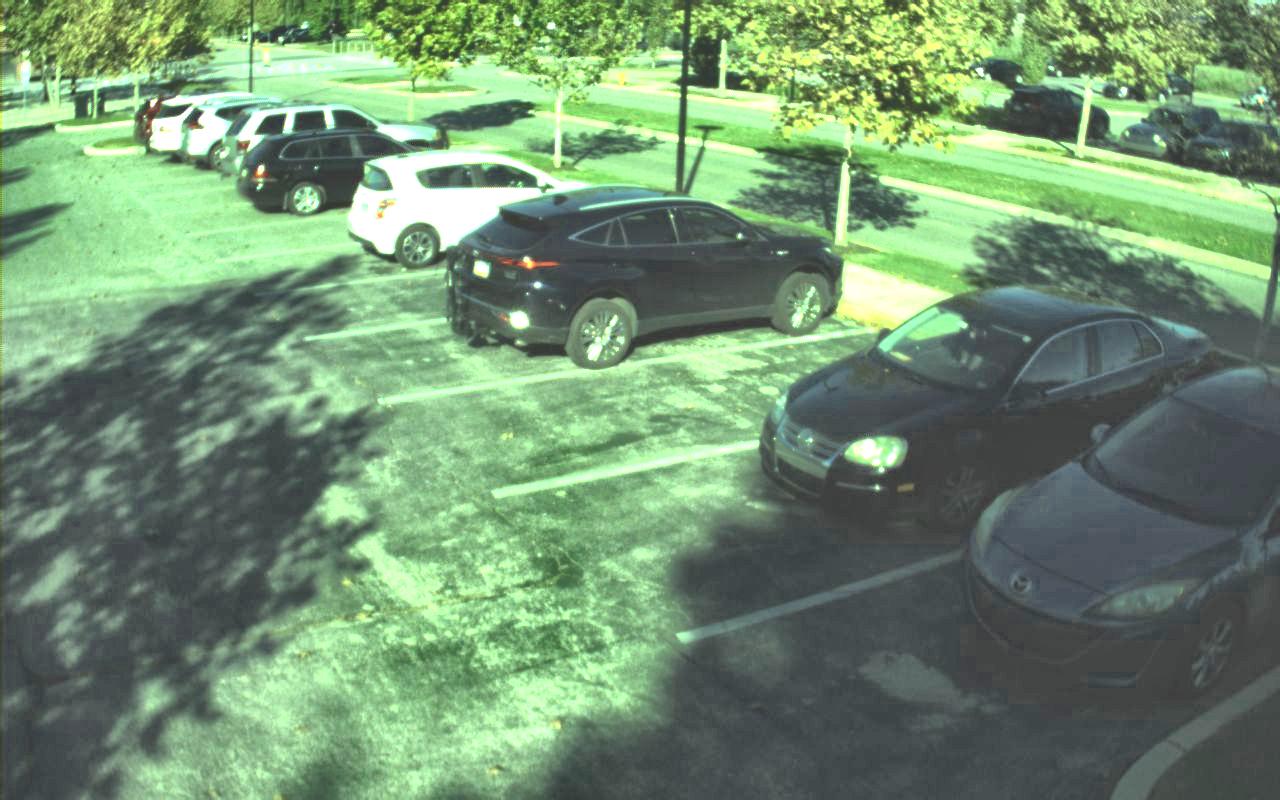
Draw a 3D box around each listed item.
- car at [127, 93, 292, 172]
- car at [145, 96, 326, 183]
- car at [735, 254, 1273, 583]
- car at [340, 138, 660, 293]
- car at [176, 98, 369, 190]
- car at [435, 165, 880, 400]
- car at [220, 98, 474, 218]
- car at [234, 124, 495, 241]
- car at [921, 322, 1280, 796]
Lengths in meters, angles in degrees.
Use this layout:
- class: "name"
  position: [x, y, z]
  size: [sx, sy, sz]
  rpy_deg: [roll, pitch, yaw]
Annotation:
- class: "car"
  position: [-12.270, -7.568, 33.354]
  size: [4.511, 1.714, 1.989]
  rpy_deg: [-12, 19, -32]
- class: "car"
  position: [-10.629, -6.801, 30.978]
  size: [4.563, 1.707, 1.992]
  rpy_deg: [-11, 19, -30]
- class: "car"
  position: [3.153, -0.078, 9.920]
  size: [4.450, 1.541, 1.948]
  rpy_deg: [-10, 18, -26]
- class: "car"
  position: [-2.079, -2.842, 18.575]
  size: [4.377, 1.669, 1.932]
  rpy_deg: [-10, 19, -28]
- class: "car"
  position: [-8.968, -6.216, 29.036]
  size: [4.475, 1.689, 1.961]
  rpy_deg: [-10, 19, -29]
- class: "car"
  position: [0.294, -1.470, 13.845]
  size: [4.611, 1.728, 1.980]
  rpy_deg: [-12, 19, -33]
- class: "car"
  position: [-6.067, -5.026, 24.983]
  size: [4.924, 1.853, 2.081]
  rpy_deg: [-10, 18, -28]
- class: "car"
  position: [-5.152, -4.093, 22.694]
  size: [4.532, 1.565, 1.940]
  rpy_deg: [-10, 19, -28]
- class: "car"
  position: [4.151, 0.743, 7.421]
  size: [4.474, 1.590, 1.973]
  rpy_deg: [-9, 18, -26]
